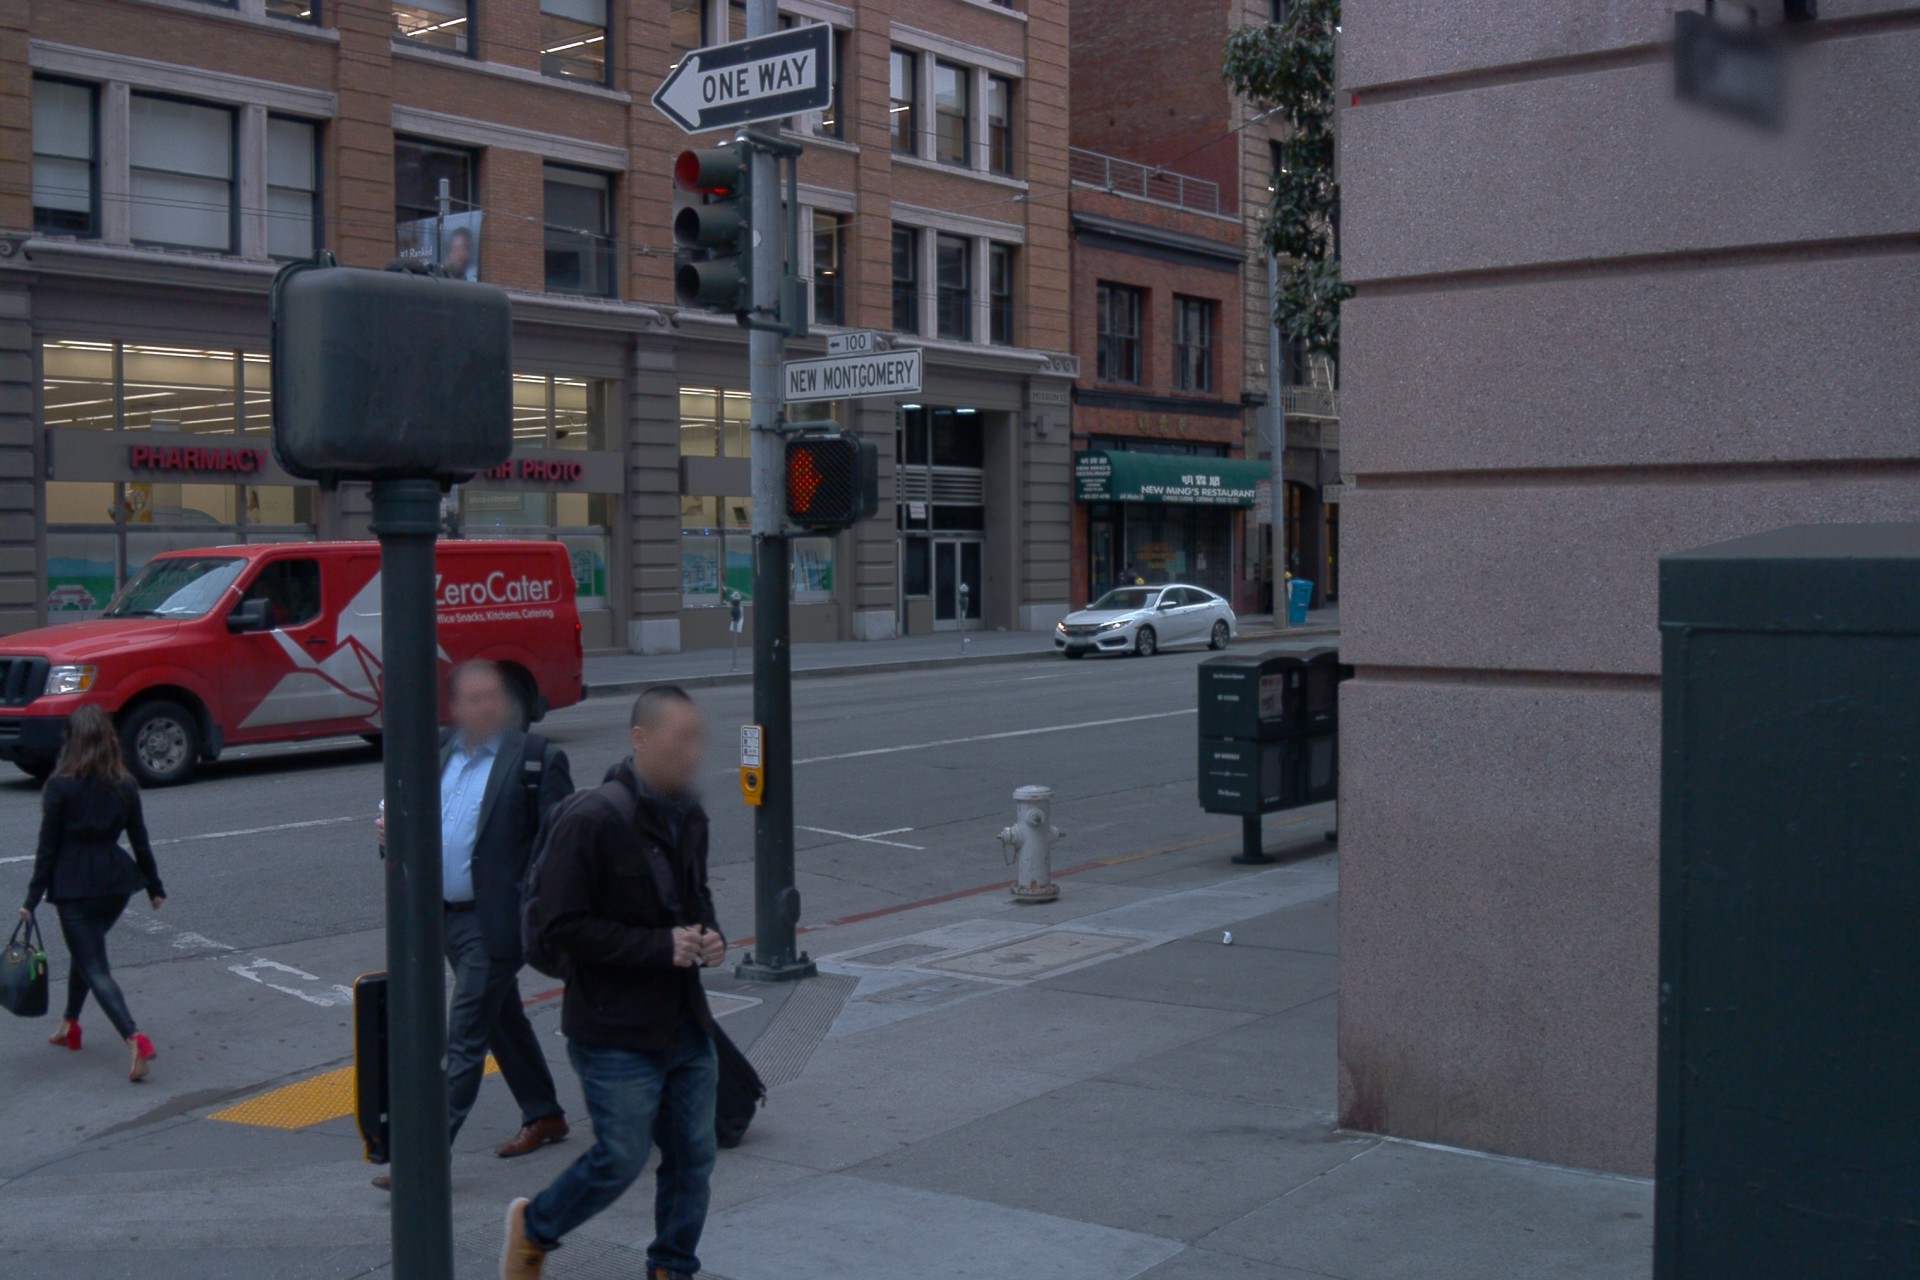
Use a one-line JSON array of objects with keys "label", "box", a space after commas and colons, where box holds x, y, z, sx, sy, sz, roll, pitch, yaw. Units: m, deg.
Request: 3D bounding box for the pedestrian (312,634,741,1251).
[{"label": "pedestrian", "box": [-1.437, 0.914, 6.949, 0.858, 1.860, 1.121, 0, 1, 37]}]

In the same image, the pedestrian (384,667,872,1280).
[{"label": "pedestrian", "box": [-0.872, 0.969, 5.390, 1.084, 1.770, 0.710, 0, 1, 38]}]
